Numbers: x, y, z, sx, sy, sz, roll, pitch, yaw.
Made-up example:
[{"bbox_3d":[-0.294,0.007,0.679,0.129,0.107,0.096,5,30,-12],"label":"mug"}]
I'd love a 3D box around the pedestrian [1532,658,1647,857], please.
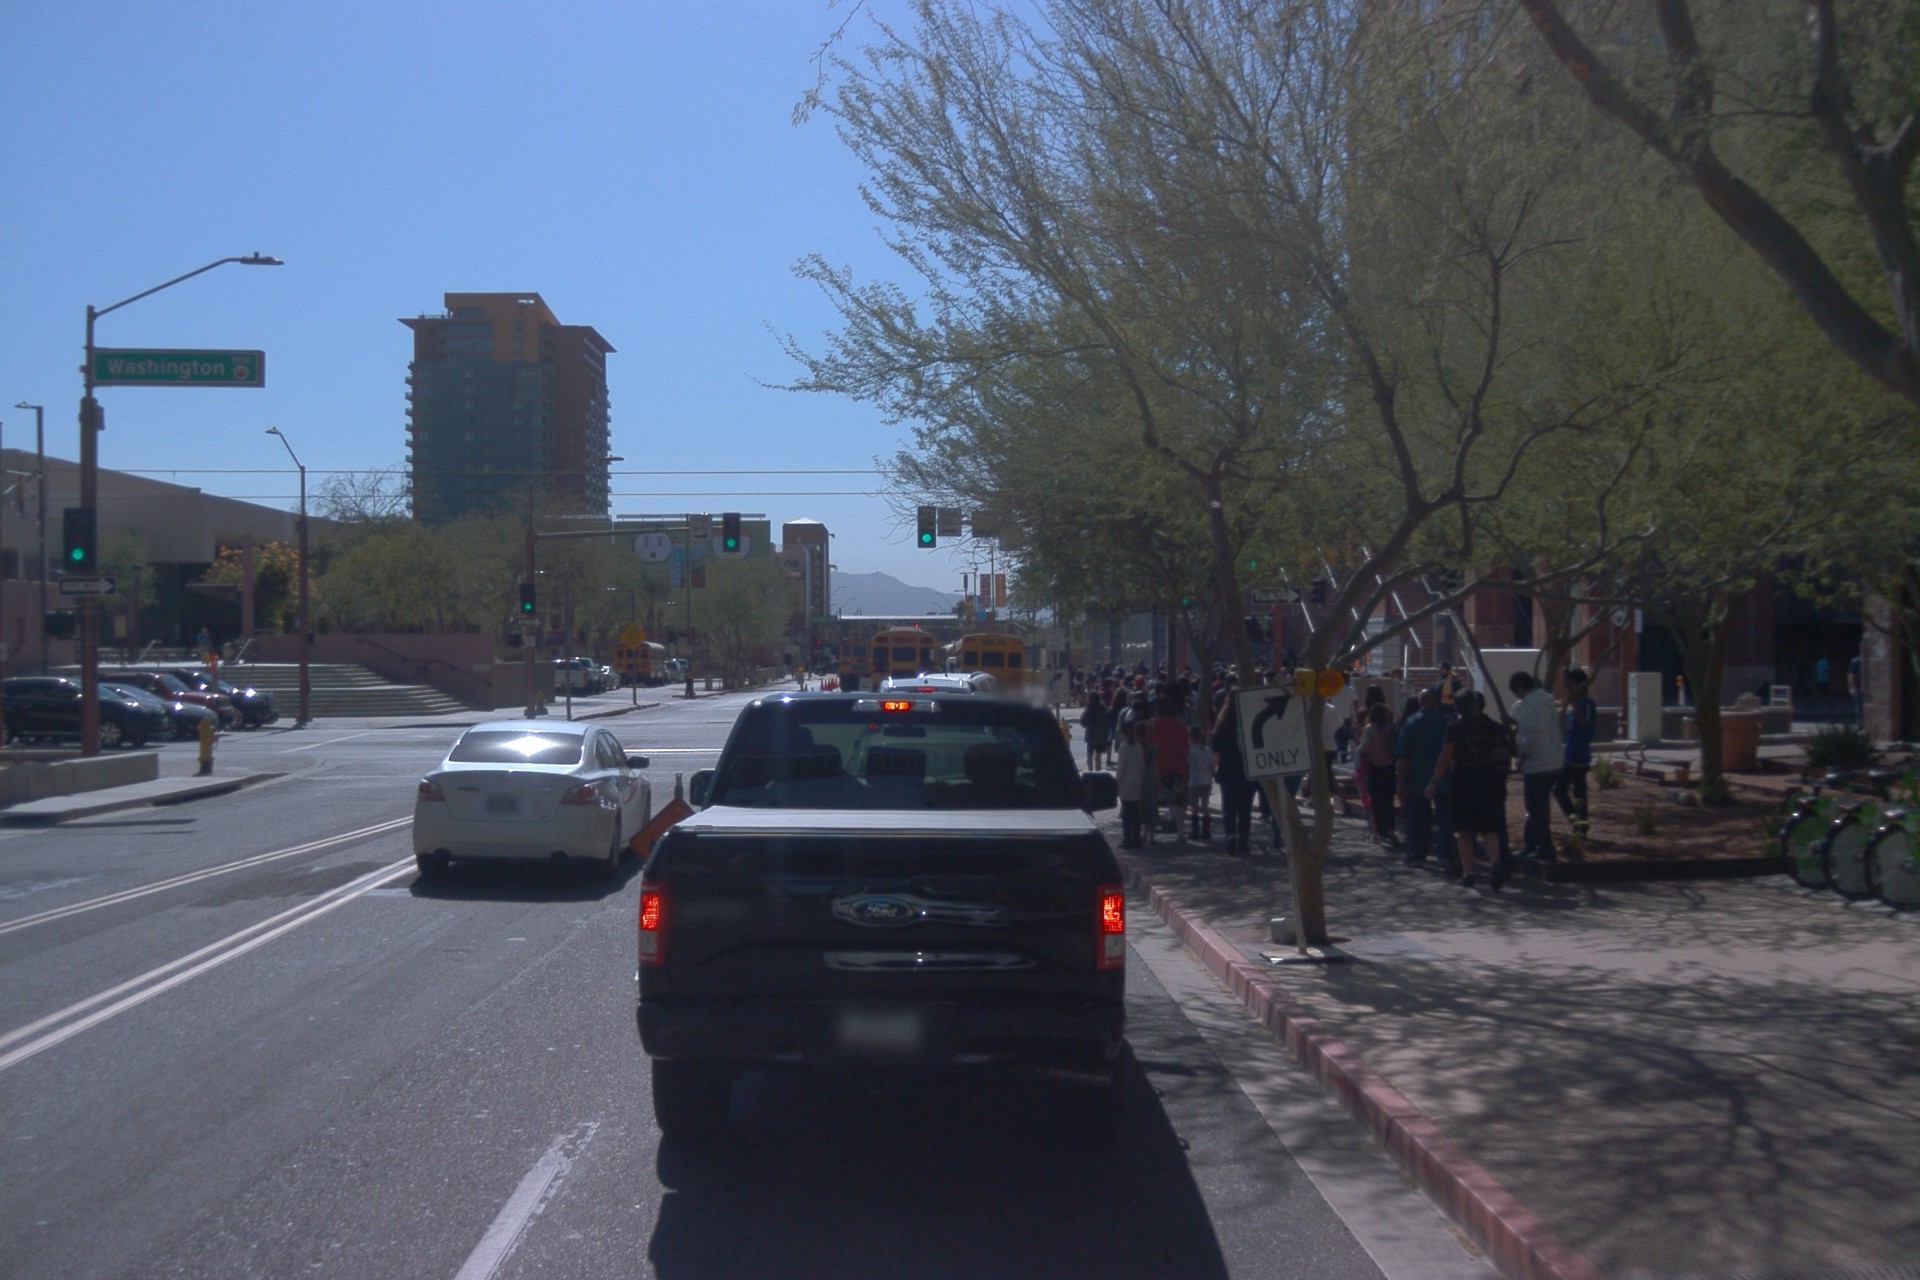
[{"bbox_3d":[6.094,1.123,20.168,0.835,1.880,0.792,0,0,-2],"label":"pedestrian"}]

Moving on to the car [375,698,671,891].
[{"bbox_3d":[-4.162,1.420,20.650,2.095,1.570,4.888,0,0,-2],"label":"car"}]

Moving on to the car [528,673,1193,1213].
[{"bbox_3d":[-0.357,1.178,10.466,2.486,1.950,5.329,0,0,0],"label":"car"}]

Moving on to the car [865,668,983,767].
[{"bbox_3d":[-0.519,1.187,33.150,1.753,1.430,4.270,0,0,1],"label":"car"}]
